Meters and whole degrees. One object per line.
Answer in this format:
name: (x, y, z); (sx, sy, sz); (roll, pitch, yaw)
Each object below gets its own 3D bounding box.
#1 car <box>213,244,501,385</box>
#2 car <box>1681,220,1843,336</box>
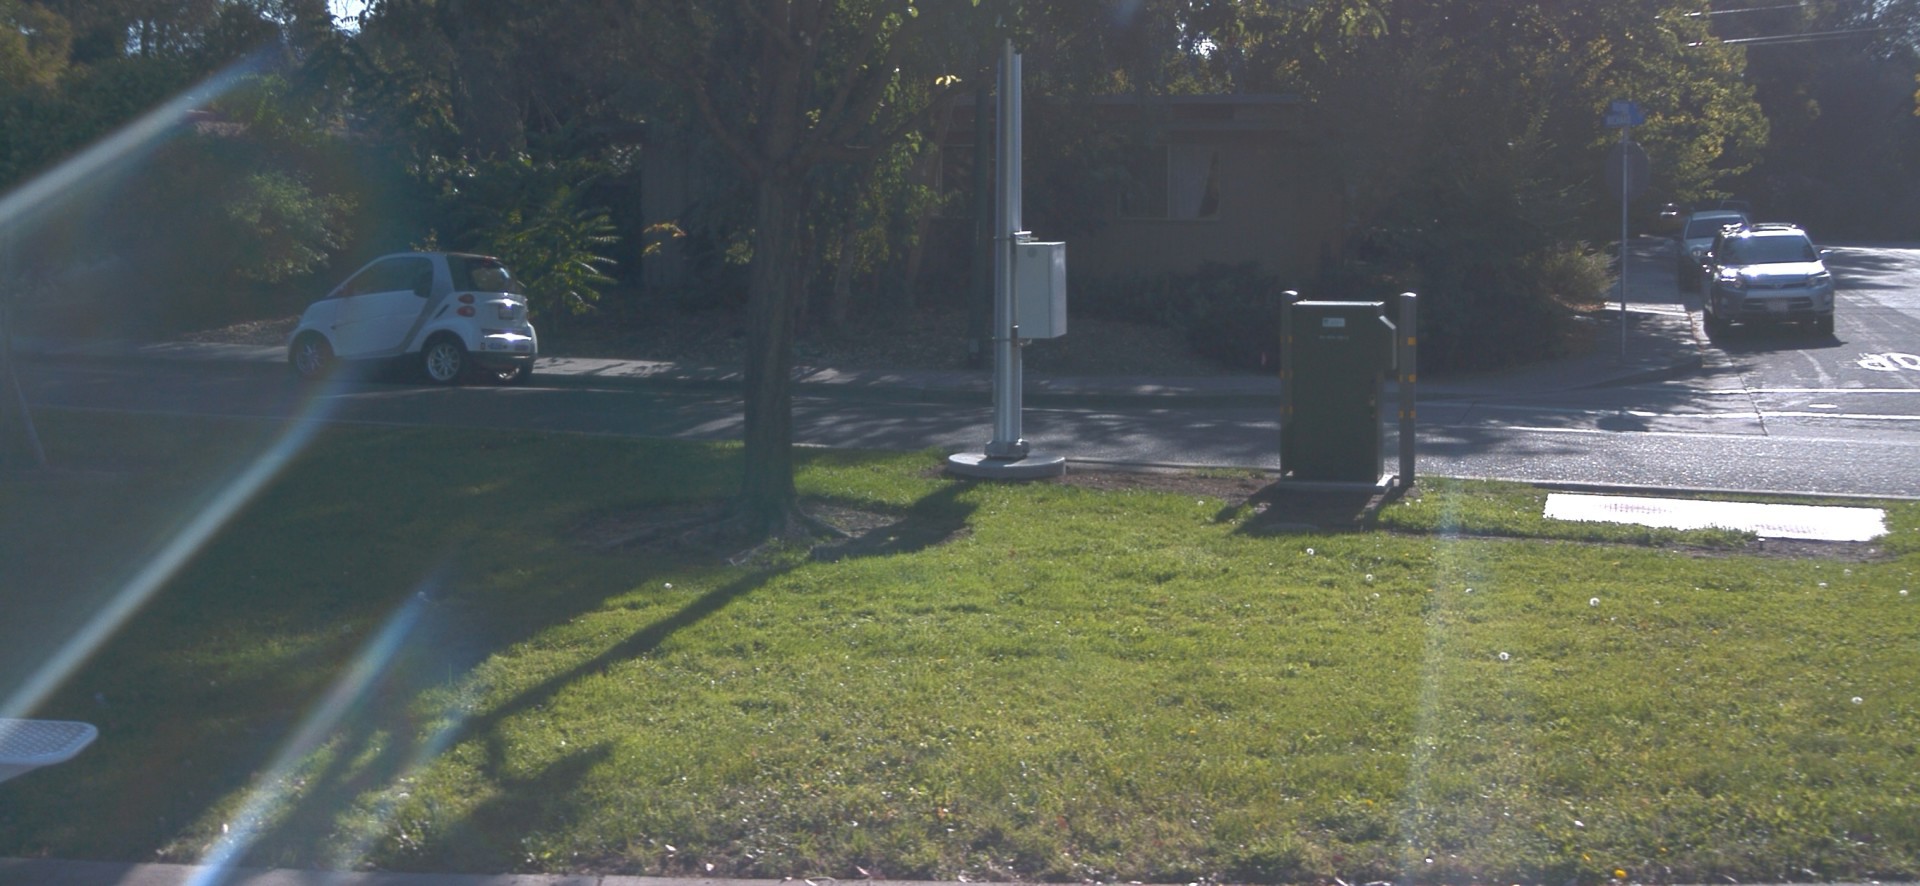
car: (-7.052, -1.542, 24.461); (2.748, 1.548, 1.664); (2, 3, 18)
car: (13.367, -2.809, 35.004); (2.193, 1.784, 4.759); (2, 5, 17)
